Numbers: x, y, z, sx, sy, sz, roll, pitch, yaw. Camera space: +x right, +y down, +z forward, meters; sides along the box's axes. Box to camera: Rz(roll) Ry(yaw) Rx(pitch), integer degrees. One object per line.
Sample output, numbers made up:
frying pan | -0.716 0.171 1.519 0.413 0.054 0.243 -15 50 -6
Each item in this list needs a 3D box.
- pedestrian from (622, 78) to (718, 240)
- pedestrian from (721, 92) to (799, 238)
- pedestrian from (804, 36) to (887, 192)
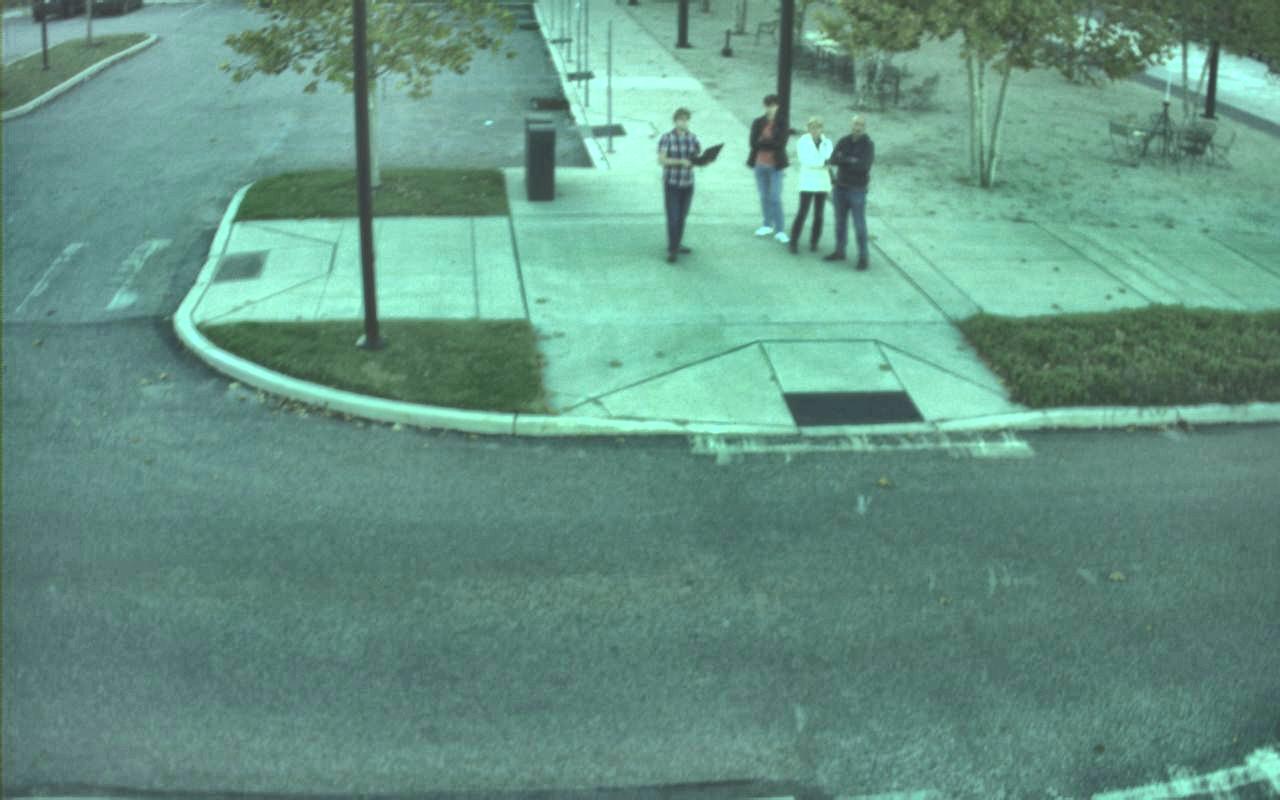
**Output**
pedestrian | 0.362 -2.905 14.933 0.809 1.844 0.791 10 18 36
pedestrian | 1.552 -3.042 16.052 0.779 1.791 0.816 6 16 23
pedestrian | 2.456 -3.442 14.757 0.776 1.825 0.764 -4 15 -11
